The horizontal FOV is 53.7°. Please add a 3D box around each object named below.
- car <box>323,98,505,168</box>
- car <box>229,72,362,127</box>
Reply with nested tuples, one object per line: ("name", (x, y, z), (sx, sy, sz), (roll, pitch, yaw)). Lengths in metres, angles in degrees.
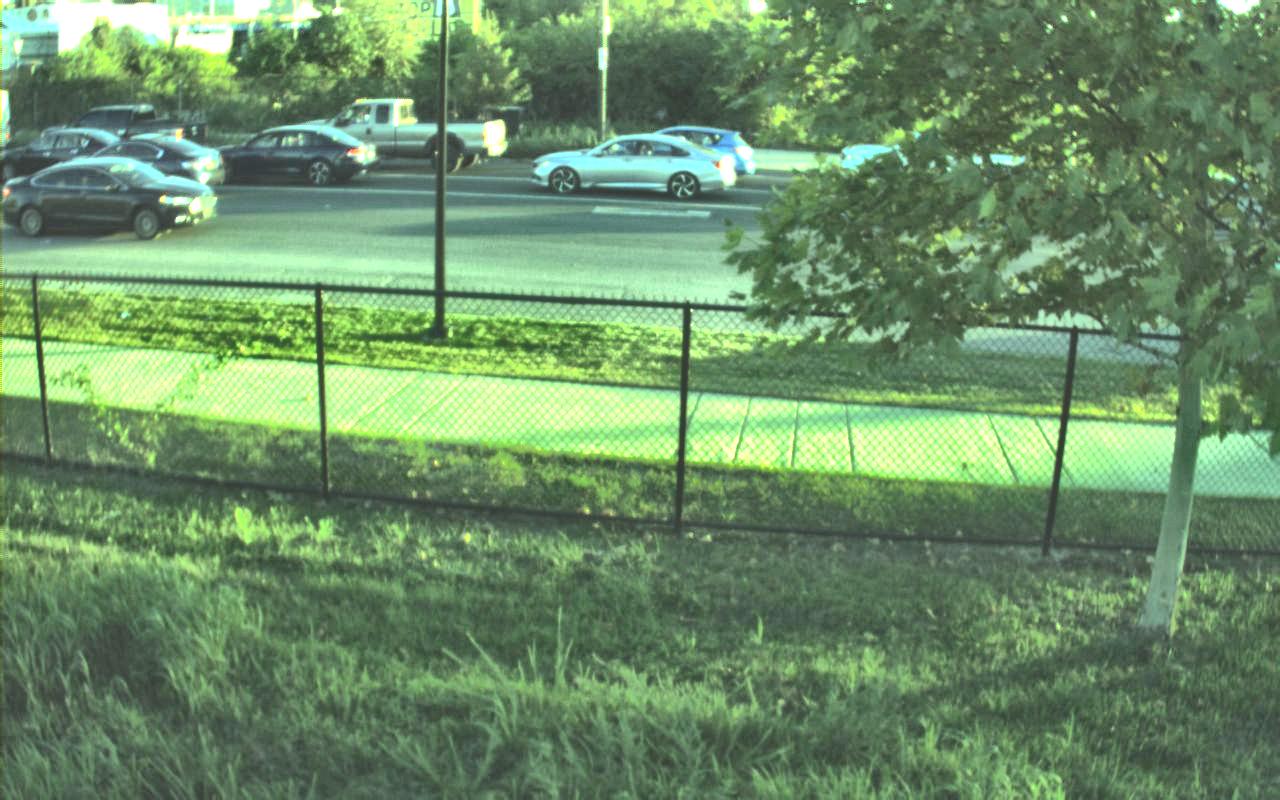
("car", (-6.289, -7.422, 34.249), (4.701, 1.647, 2.014), (1, 16, 7))
("car", (-13.222, -11.461, 45.869), (4.790, 1.713, 2.060), (0, 16, 4))
